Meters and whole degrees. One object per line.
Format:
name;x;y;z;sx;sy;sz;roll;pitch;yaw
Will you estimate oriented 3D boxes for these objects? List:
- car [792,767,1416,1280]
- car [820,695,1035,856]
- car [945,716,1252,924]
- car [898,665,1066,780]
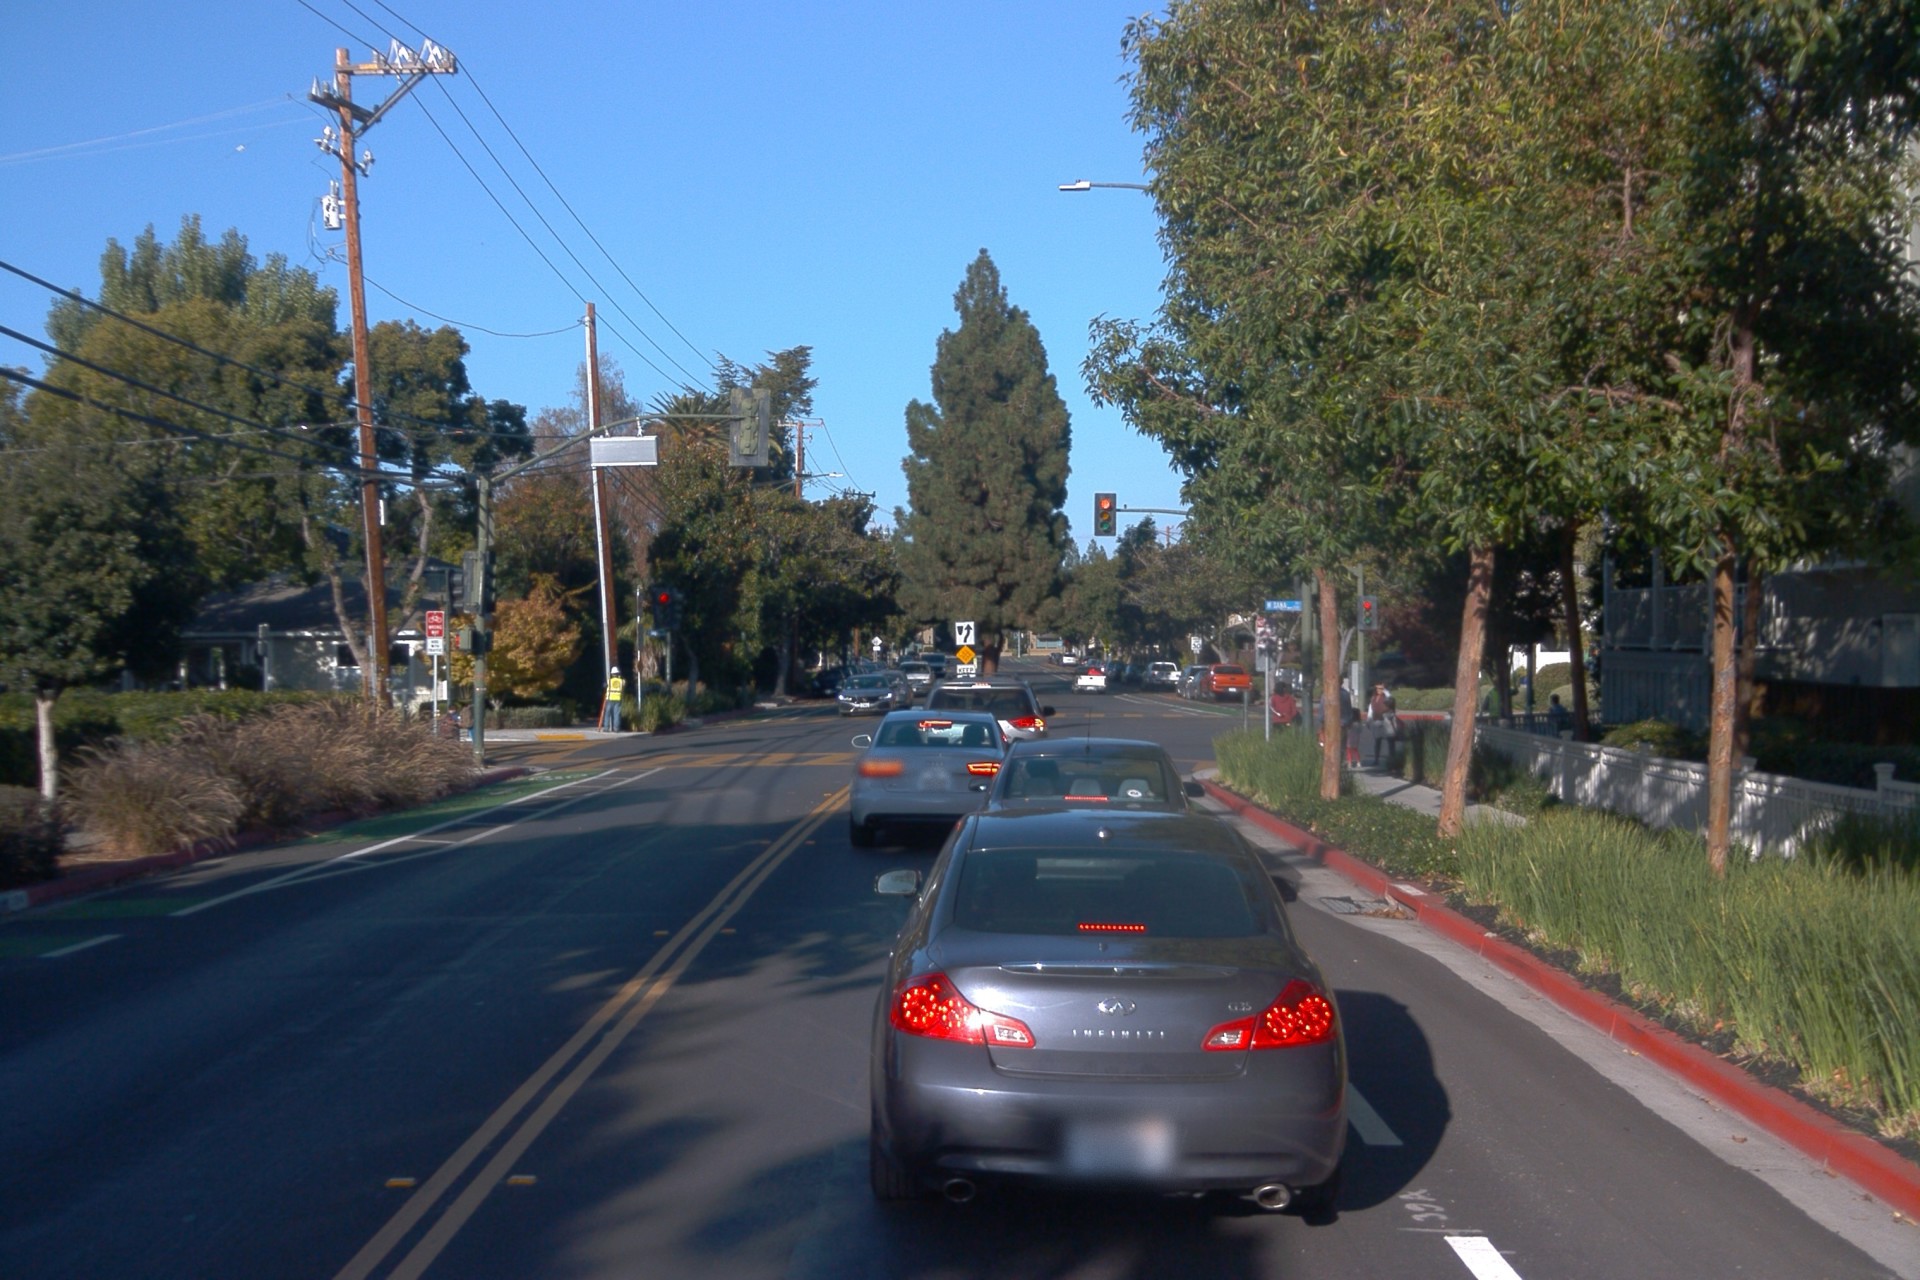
car;0.566;1.431;9.064;2.033;1.460;4.435;1;0;3
car;-0.262;1.447;23.532;2.122;1.500;4.397;1;0;3
car;0.991;1.271;15.845;2.028;1.210;4.035;1;0;2
car;0.354;1.175;31.289;2.317;1.510;4.744;1;0;1
